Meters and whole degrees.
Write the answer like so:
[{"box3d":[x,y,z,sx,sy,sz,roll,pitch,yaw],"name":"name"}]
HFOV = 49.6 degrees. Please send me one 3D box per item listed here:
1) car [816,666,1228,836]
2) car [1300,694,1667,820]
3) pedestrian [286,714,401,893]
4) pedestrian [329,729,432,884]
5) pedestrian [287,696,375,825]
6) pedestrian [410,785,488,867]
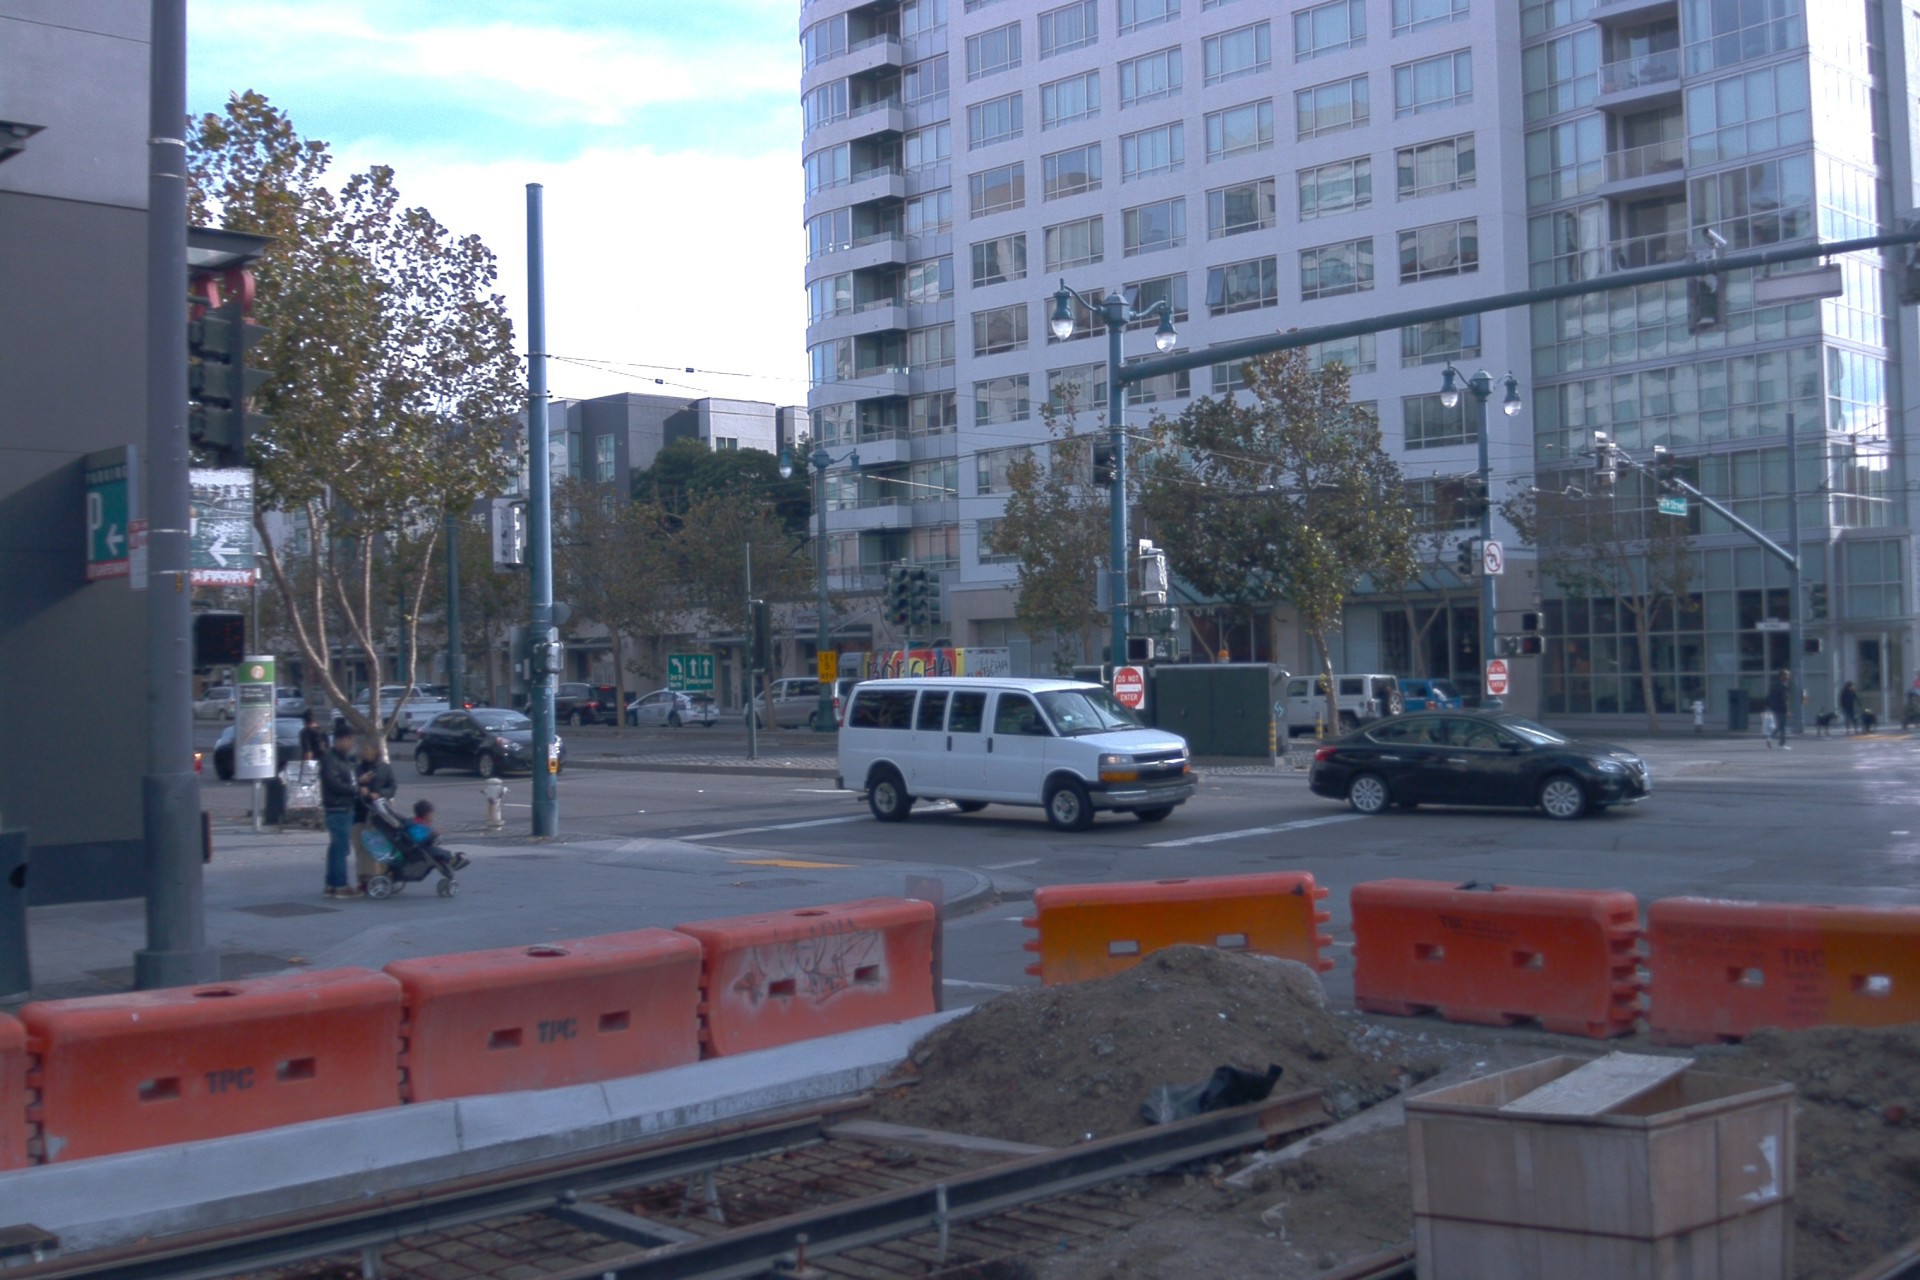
[{"box3d":[0.798,1.497,30.283,5.769,2.200,2.561,0,-1,44],"name":"car"},{"box3d":[7.327,1.583,29.259,4.612,1.554,1.977,0,-1,34],"name":"car"},{"box3d":[-5.990,1.568,20.193,0.748,1.660,0.767,0,-1,38],"name":"pedestrian"},{"box3d":[-5.747,1.634,20.613,0.723,1.460,0.660,0,-1,29],"name":"pedestrian"},{"box3d":[-9.198,1.741,30.382,0.982,1.830,0.942,1,-1,-34],"name":"pedestrian"},{"box3d":[-5.005,1.813,20.329,0.723,0.752,0.485,0,-1,-15],"name":"pedestrian"}]
